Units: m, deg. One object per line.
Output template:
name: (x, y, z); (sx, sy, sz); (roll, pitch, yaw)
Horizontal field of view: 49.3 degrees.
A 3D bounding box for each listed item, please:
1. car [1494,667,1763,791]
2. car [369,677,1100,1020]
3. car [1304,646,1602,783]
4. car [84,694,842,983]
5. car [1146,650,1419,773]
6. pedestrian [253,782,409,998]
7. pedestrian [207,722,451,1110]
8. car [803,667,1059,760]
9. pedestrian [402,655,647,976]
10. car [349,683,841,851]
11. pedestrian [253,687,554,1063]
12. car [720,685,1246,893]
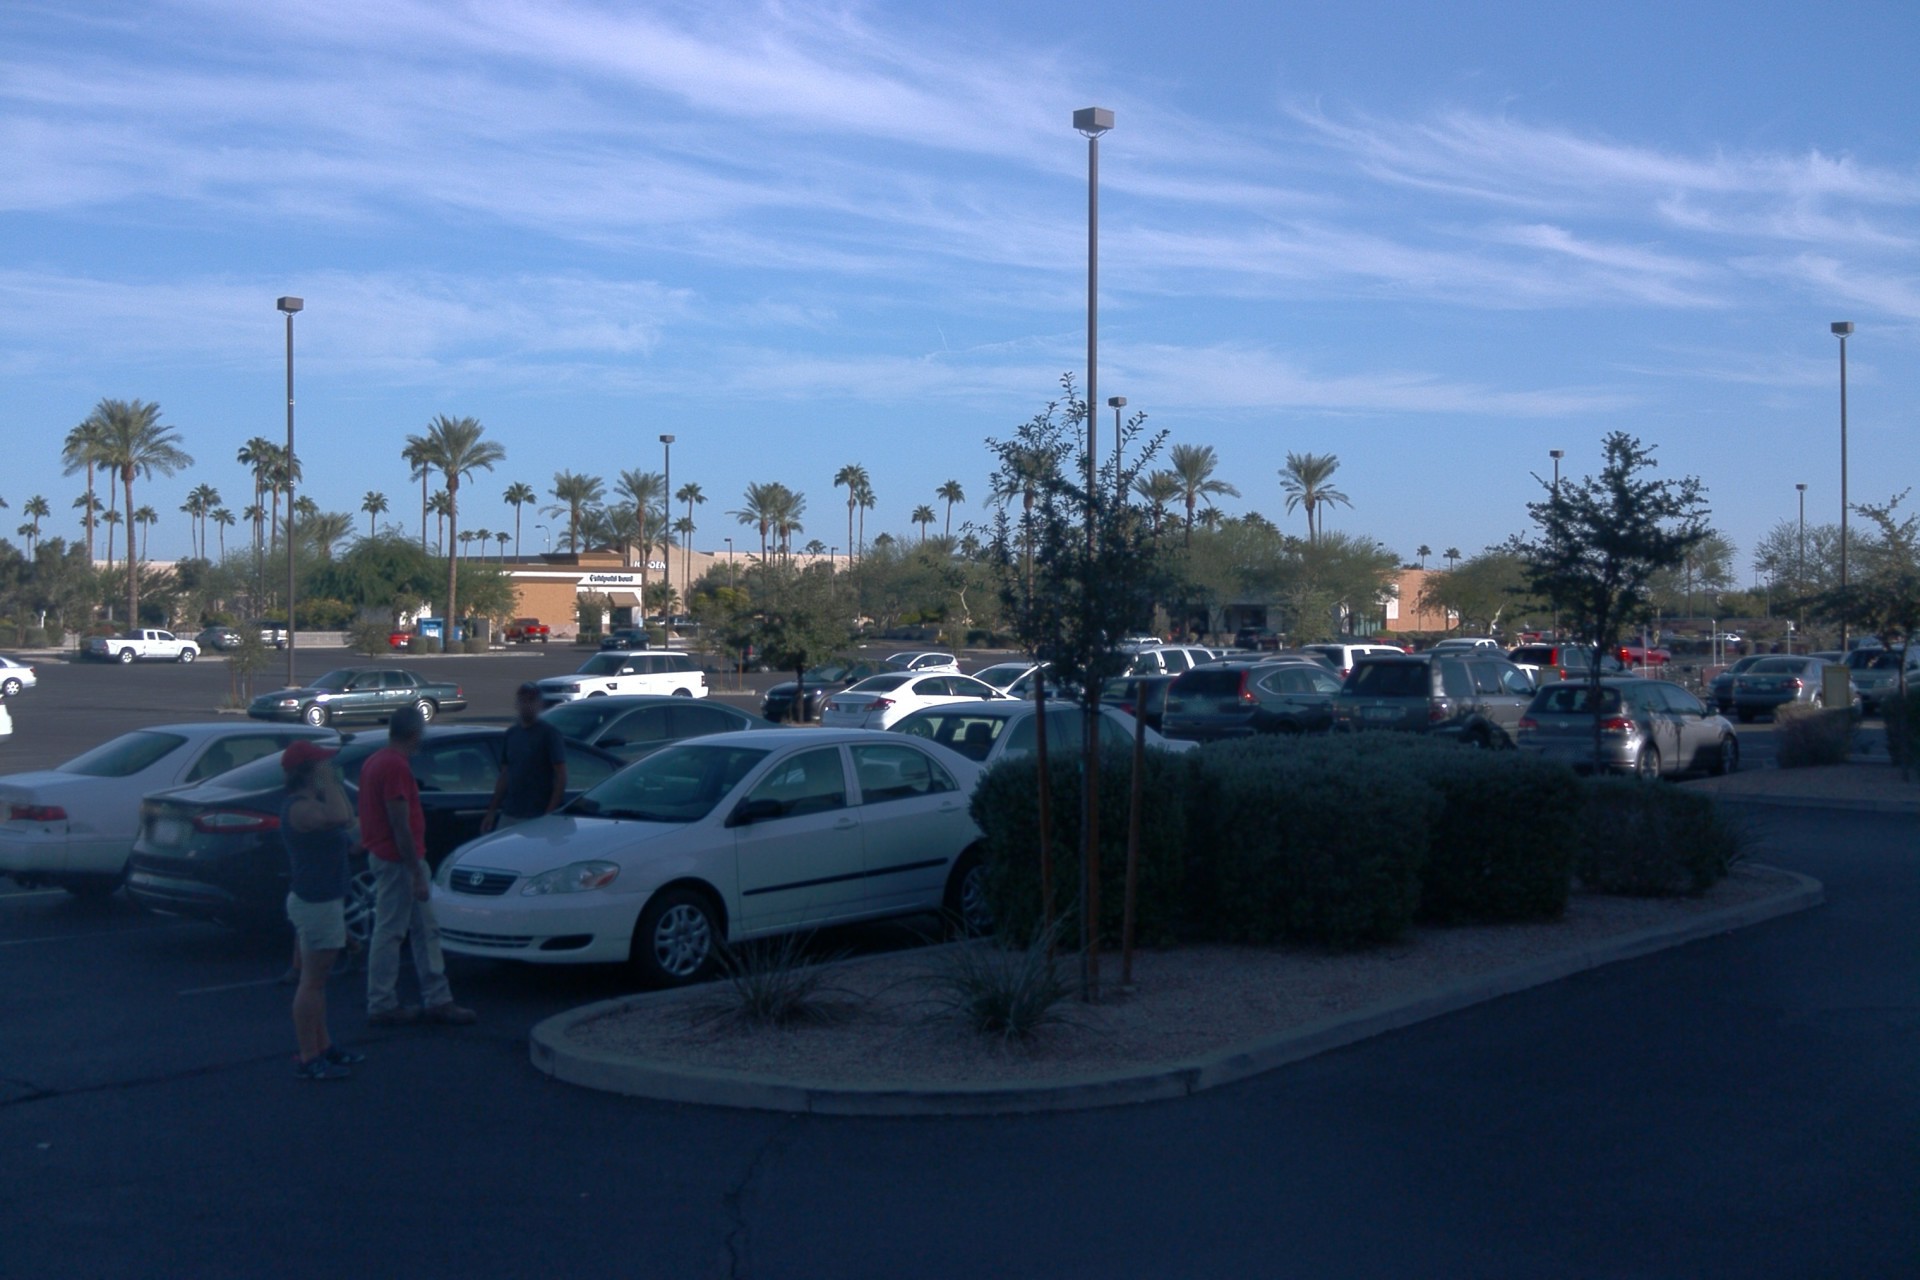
car: (9.199, 1.152, 28.588); (1.852, 1.490, 4.453); (0, 0, 42)
car: (-1.298, 1.182, 13.828); (1.907, 1.770, 4.730); (0, 0, 42)
car: (7.335, 1.011, 30.811); (2.246, 1.820, 4.801); (0, 0, 42)
car: (-3.466, 1.288, 15.415); (5.110, 1.630, 2.063); (0, 0, -45)
car: (5.090, 1.047, 32.531); (1.928, 1.730, 4.722); (0, 0, 42)
pedestrian: (-3.851, 1.514, 12.862); (0.839, 1.210, 0.810); (0, 0, -11)
pedestrian: (-3.060, 1.283, 10.147); (0.846, 1.720, 0.823); (0, 0, -44)
car: (-0.468, 1.295, 38.581); (2.092, 1.530, 4.718); (0, 0, 42)
pedestrian: (-2.904, 1.106, 13.953); (1.223, 2.000, 1.069); (0, 0, 41)
car: (-3.890, 1.298, 23.106); (2.180, 1.520, 5.084); (0, 0, 42)
pedestrian: (-2.954, 1.197, 11.223); (1.111, 1.850, 1.176); (0, 0, 15)
car: (0.374, 1.280, 19.821); (2.190, 1.580, 5.110); (0, 0, 41)
